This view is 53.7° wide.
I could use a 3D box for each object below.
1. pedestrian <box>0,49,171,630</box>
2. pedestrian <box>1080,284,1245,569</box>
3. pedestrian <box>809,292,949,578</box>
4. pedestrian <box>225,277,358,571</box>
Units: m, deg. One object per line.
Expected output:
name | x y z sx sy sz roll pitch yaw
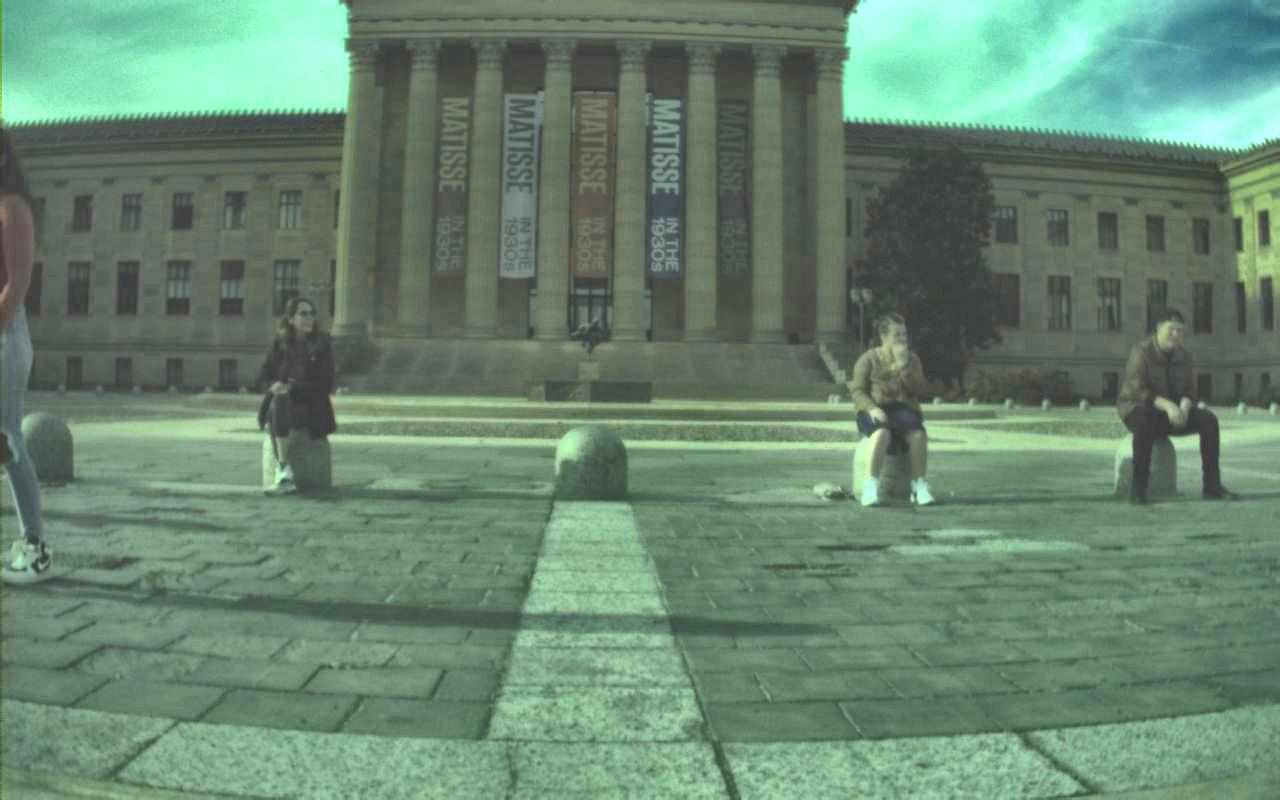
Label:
pedestrian | -2.088 -0.186 3.789 0.733 1.783 0.747 1 0 42
pedestrian | 3.492 0.177 7.847 0.871 1.797 0.871 0 0 0
pedestrian | 1.549 0.206 7.941 0.808 1.734 0.810 1 0 16
pedestrian | -2.199 0.147 7.727 0.820 1.771 0.813 0 0 -12
